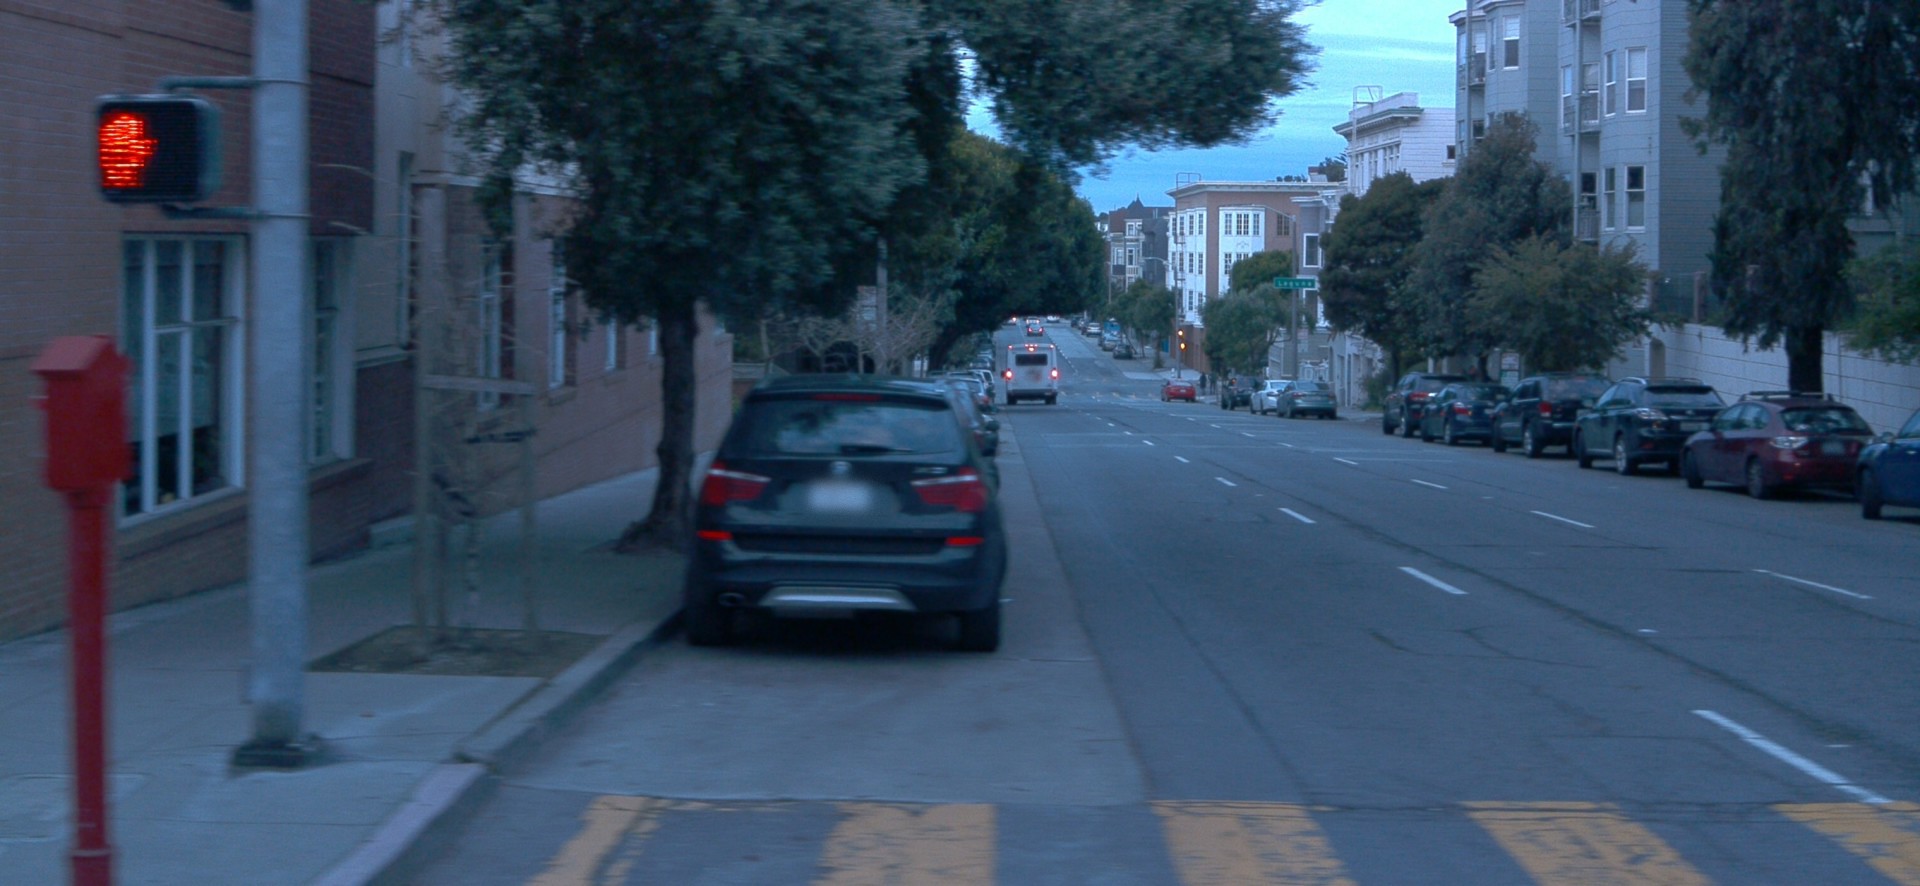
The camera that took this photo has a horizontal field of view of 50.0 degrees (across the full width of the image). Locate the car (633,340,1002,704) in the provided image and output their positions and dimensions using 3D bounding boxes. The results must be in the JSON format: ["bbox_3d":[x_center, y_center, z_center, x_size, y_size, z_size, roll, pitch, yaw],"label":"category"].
[{"bbox_3d":[-0.799,0.332,13.749,2.048,1.772,4.529,0,5,0],"label":"car"}]

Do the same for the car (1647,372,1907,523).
[{"bbox_3d":[12.044,-0.010,30.678,2.212,1.782,4.300,0,5,1],"label":"car"}]

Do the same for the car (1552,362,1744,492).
[{"bbox_3d":[12.193,-0.360,36.817,2.035,1.862,4.611,1,5,2],"label":"car"}]
